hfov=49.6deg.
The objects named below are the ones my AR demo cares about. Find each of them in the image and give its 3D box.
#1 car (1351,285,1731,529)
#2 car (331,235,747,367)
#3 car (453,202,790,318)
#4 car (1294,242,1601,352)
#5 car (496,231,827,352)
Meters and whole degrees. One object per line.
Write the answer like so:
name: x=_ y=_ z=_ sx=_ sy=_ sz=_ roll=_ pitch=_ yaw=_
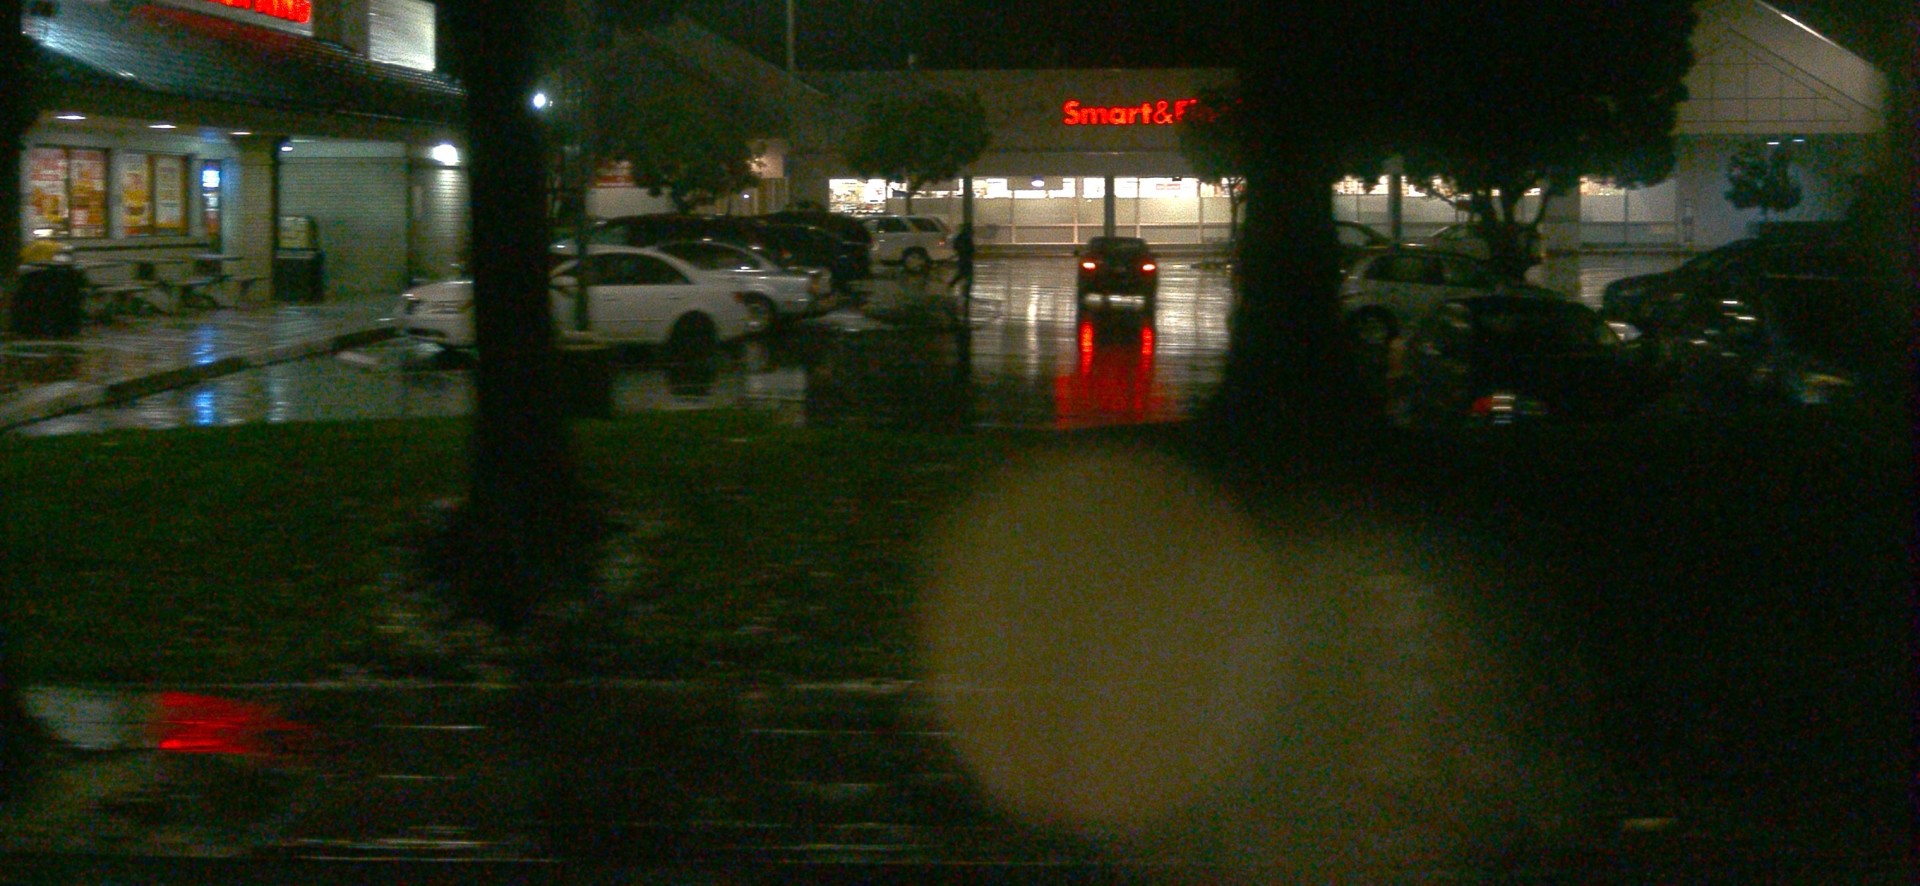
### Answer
car: x=4.772 y=-0.445 z=17.848 sx=2.042 sy=1.725 sz=4.655 roll=1 pitch=5 yaw=1
car: x=-5.450 y=-1.913 z=27.258 sx=4.918 sy=1.577 sz=2.123 roll=-3 pitch=5 yaw=-38
car: x=-5.631 y=-3.101 z=35.080 sx=5.202 sy=1.858 sz=2.250 roll=1 pitch=3 yaw=4
car: x=7.646 y=-2.343 z=33.002 sx=4.522 sy=1.648 sz=1.990 roll=1 pitch=3 yaw=5
car: x=-4.613 y=-2.403 z=32.582 sx=4.772 sy=1.788 sz=2.053 roll=1 pitch=3 yaw=4
